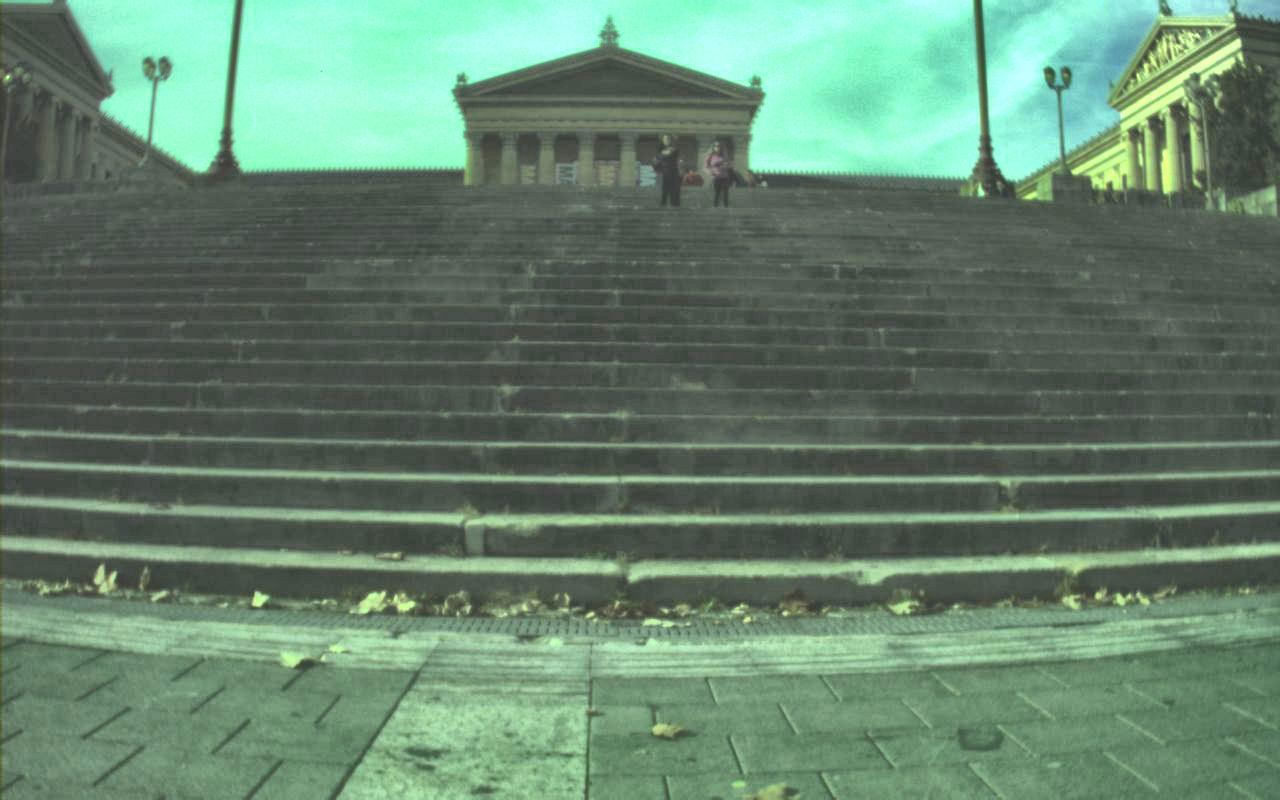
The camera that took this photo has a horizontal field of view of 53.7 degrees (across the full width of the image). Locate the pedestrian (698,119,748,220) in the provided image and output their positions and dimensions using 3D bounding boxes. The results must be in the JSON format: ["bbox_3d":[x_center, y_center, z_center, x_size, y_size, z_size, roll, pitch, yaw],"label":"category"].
[{"bbox_3d":[1.505,-4.163,22.681,0.709,1.734,0.703,0,0,-16],"label":"pedestrian"}]

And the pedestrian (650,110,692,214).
[{"bbox_3d":[0.548,-4.218,22.210,0.687,1.763,0.674,0,0,-3],"label":"pedestrian"}]
